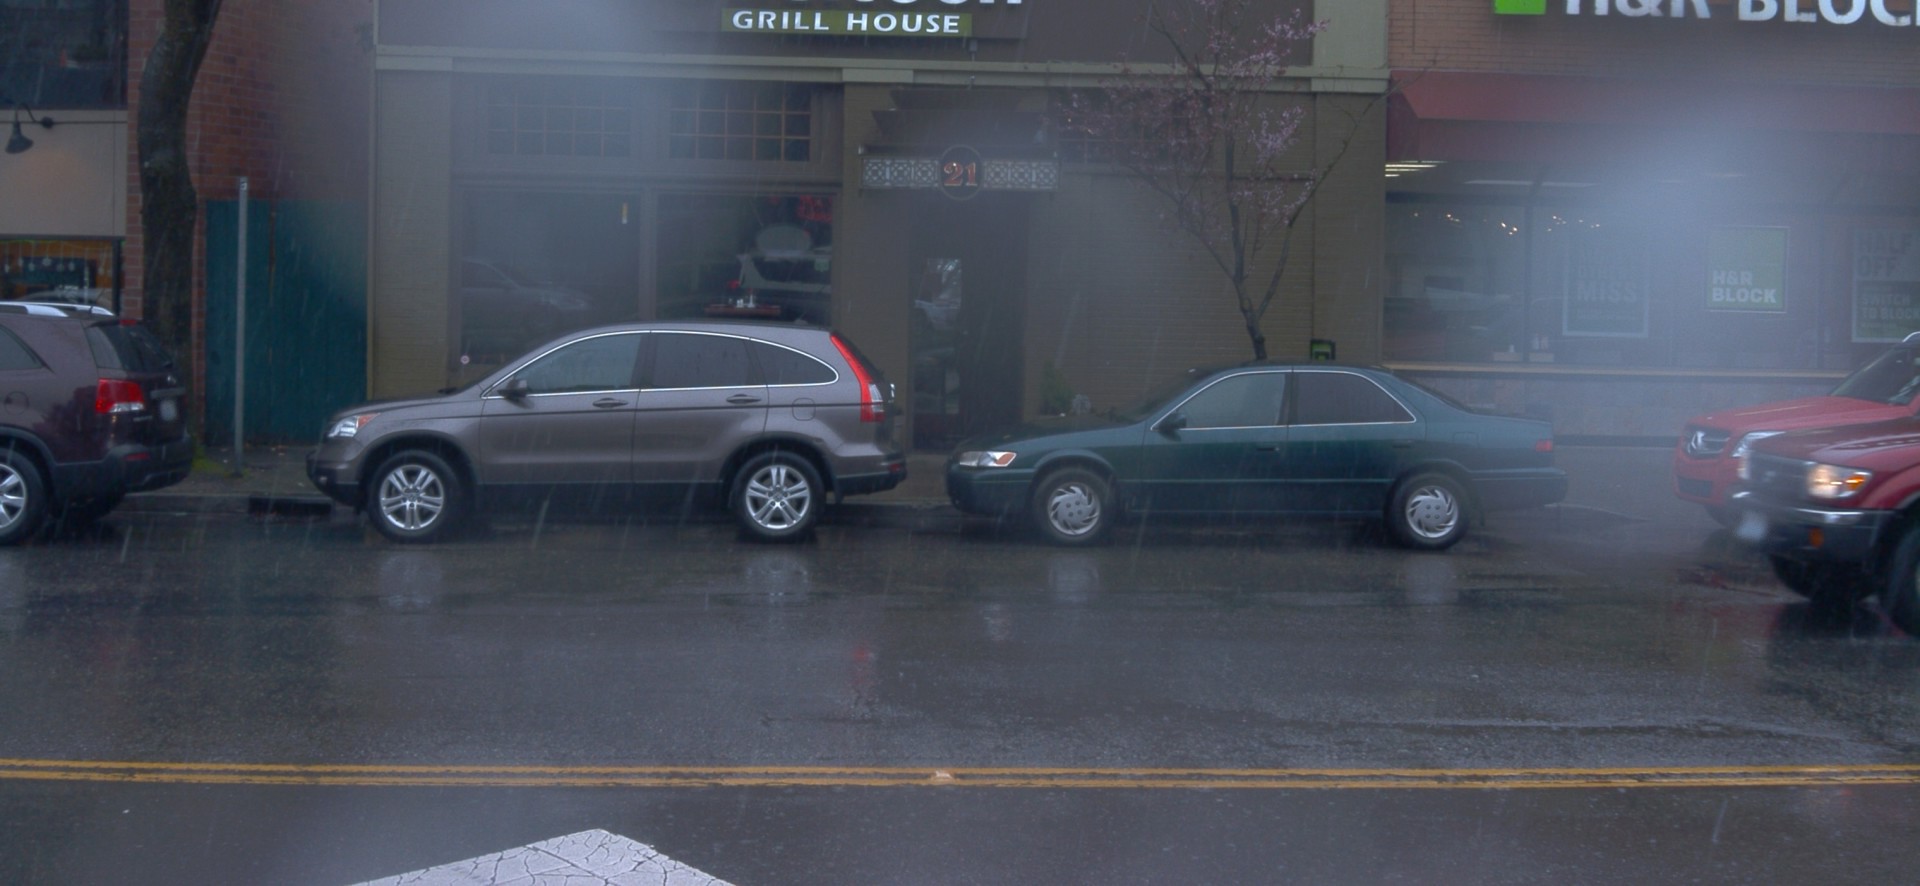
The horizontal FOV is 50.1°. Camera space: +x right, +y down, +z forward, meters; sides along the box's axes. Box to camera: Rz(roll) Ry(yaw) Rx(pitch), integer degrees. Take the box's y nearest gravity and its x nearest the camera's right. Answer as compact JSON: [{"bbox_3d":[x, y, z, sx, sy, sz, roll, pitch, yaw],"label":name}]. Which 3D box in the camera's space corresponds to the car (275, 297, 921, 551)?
[{"bbox_3d":[-2.674,-0.197,15.802,4.605,1.724,1.918,0,4,-5],"label":"car"}]

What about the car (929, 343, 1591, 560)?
[{"bbox_3d":[2.199,0.023,16.005,4.796,1.414,1.988,0,5,-3],"label":"car"}]
